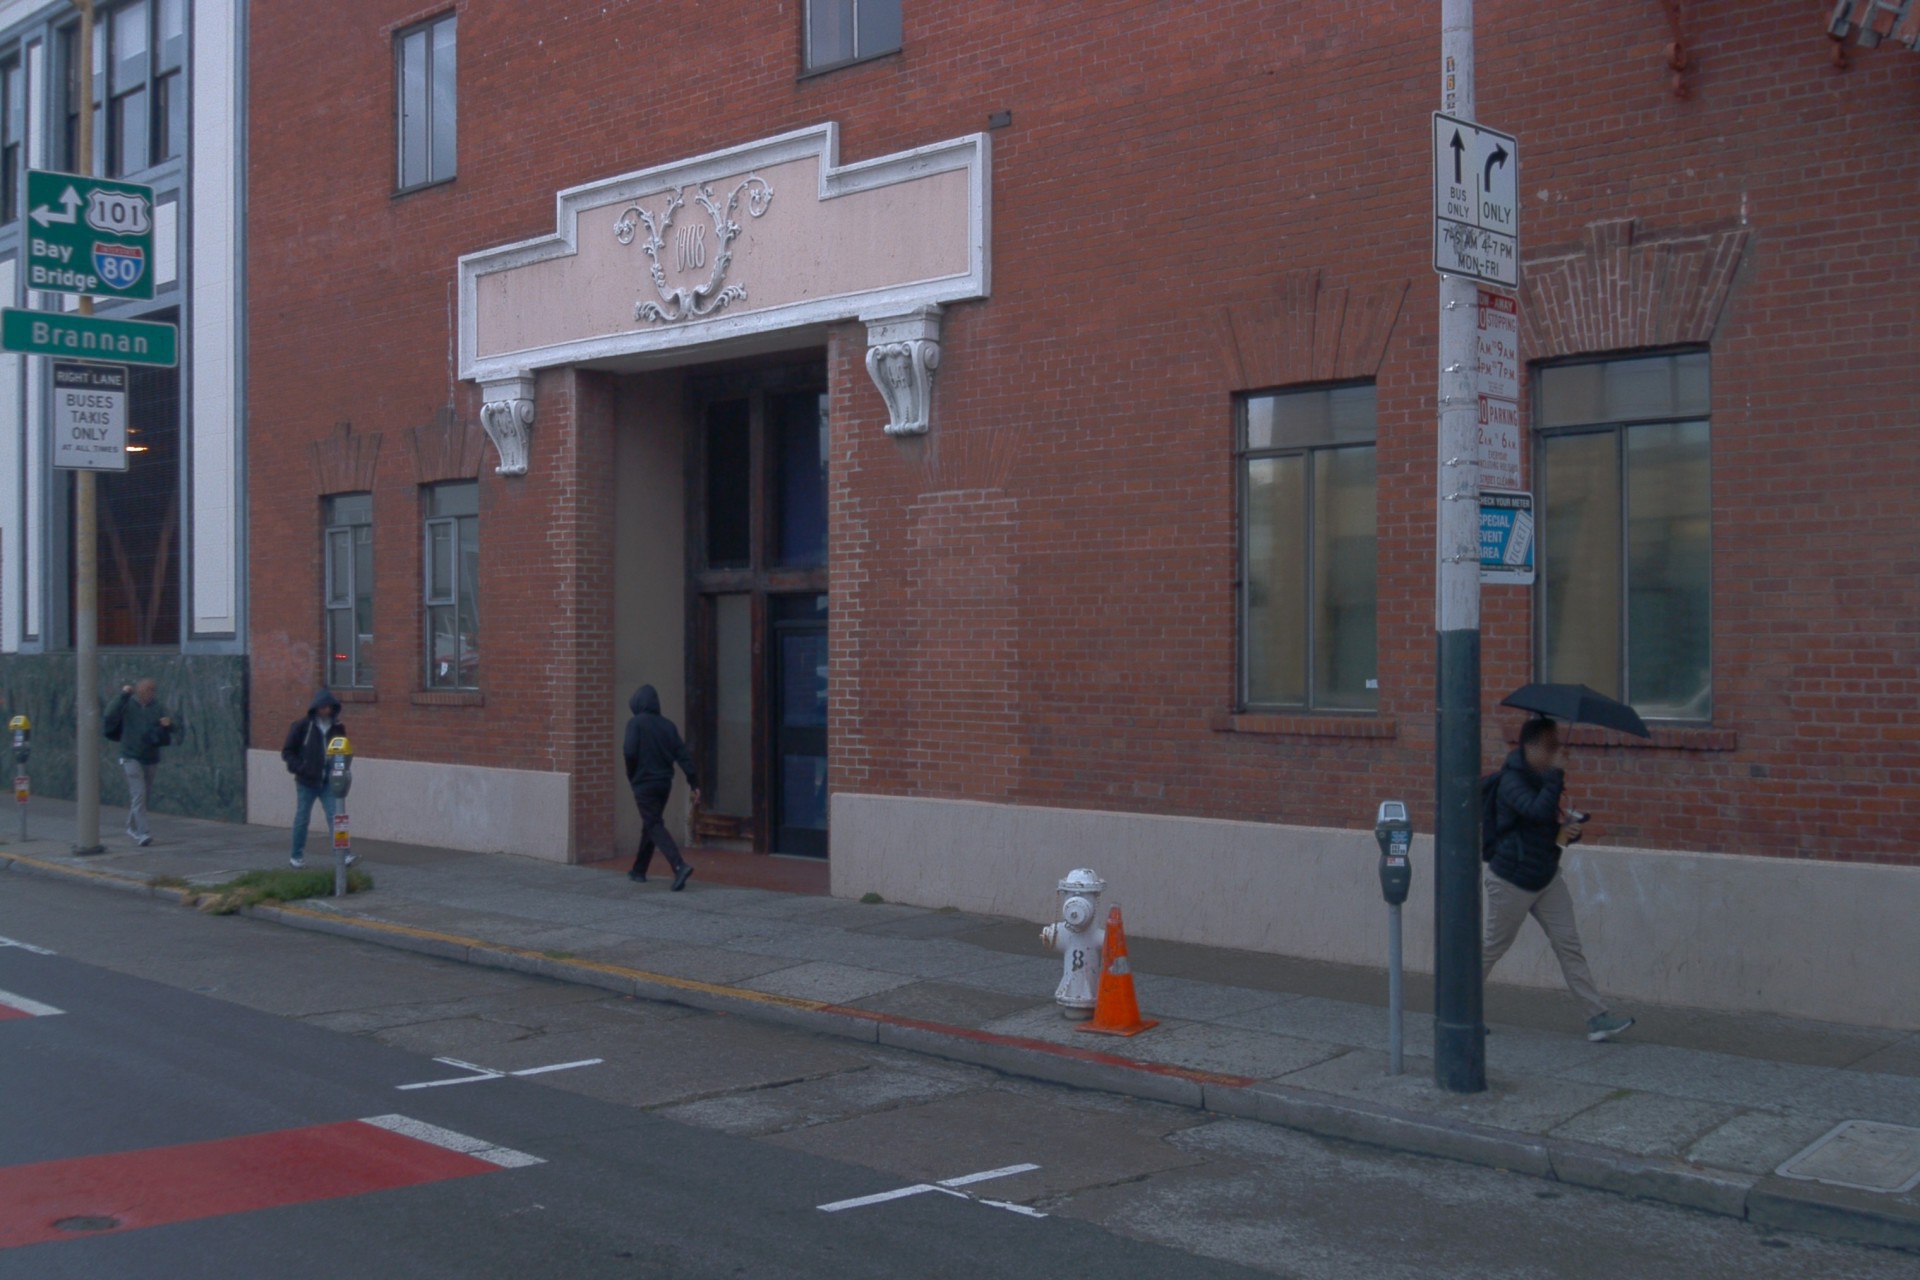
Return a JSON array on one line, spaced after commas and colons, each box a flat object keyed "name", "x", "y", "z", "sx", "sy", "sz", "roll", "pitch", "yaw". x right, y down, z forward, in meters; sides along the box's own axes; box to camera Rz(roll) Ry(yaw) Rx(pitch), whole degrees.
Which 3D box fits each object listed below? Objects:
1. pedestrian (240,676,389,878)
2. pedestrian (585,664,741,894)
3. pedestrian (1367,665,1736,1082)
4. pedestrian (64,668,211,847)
[{"name": "pedestrian", "x": -5.863, "y": 1.212, "z": 18.803, "sx": 0.893, "sy": 1.750, "sz": 1.042, "roll": 1, "pitch": -1, "yaw": -45}, {"name": "pedestrian", "x": -2.511, "y": 1.134, "z": 17.449, "sx": 0.798, "sy": 1.848, "sz": 1.126, "roll": 1, "pitch": -1, "yaw": -41}, {"name": "pedestrian", "x": 3.050, "y": 1.120, "z": 10.739, "sx": 1.005, "sy": 1.970, "sz": 1.539, "roll": 1, "pitch": -1, "yaw": -42}, {"name": "pedestrian", "x": -8.484, "y": 1.177, "z": 21.342, "sx": 1.051, "sy": 1.770, "sz": 1.159, "roll": 1, "pitch": -1, "yaw": -42}]
